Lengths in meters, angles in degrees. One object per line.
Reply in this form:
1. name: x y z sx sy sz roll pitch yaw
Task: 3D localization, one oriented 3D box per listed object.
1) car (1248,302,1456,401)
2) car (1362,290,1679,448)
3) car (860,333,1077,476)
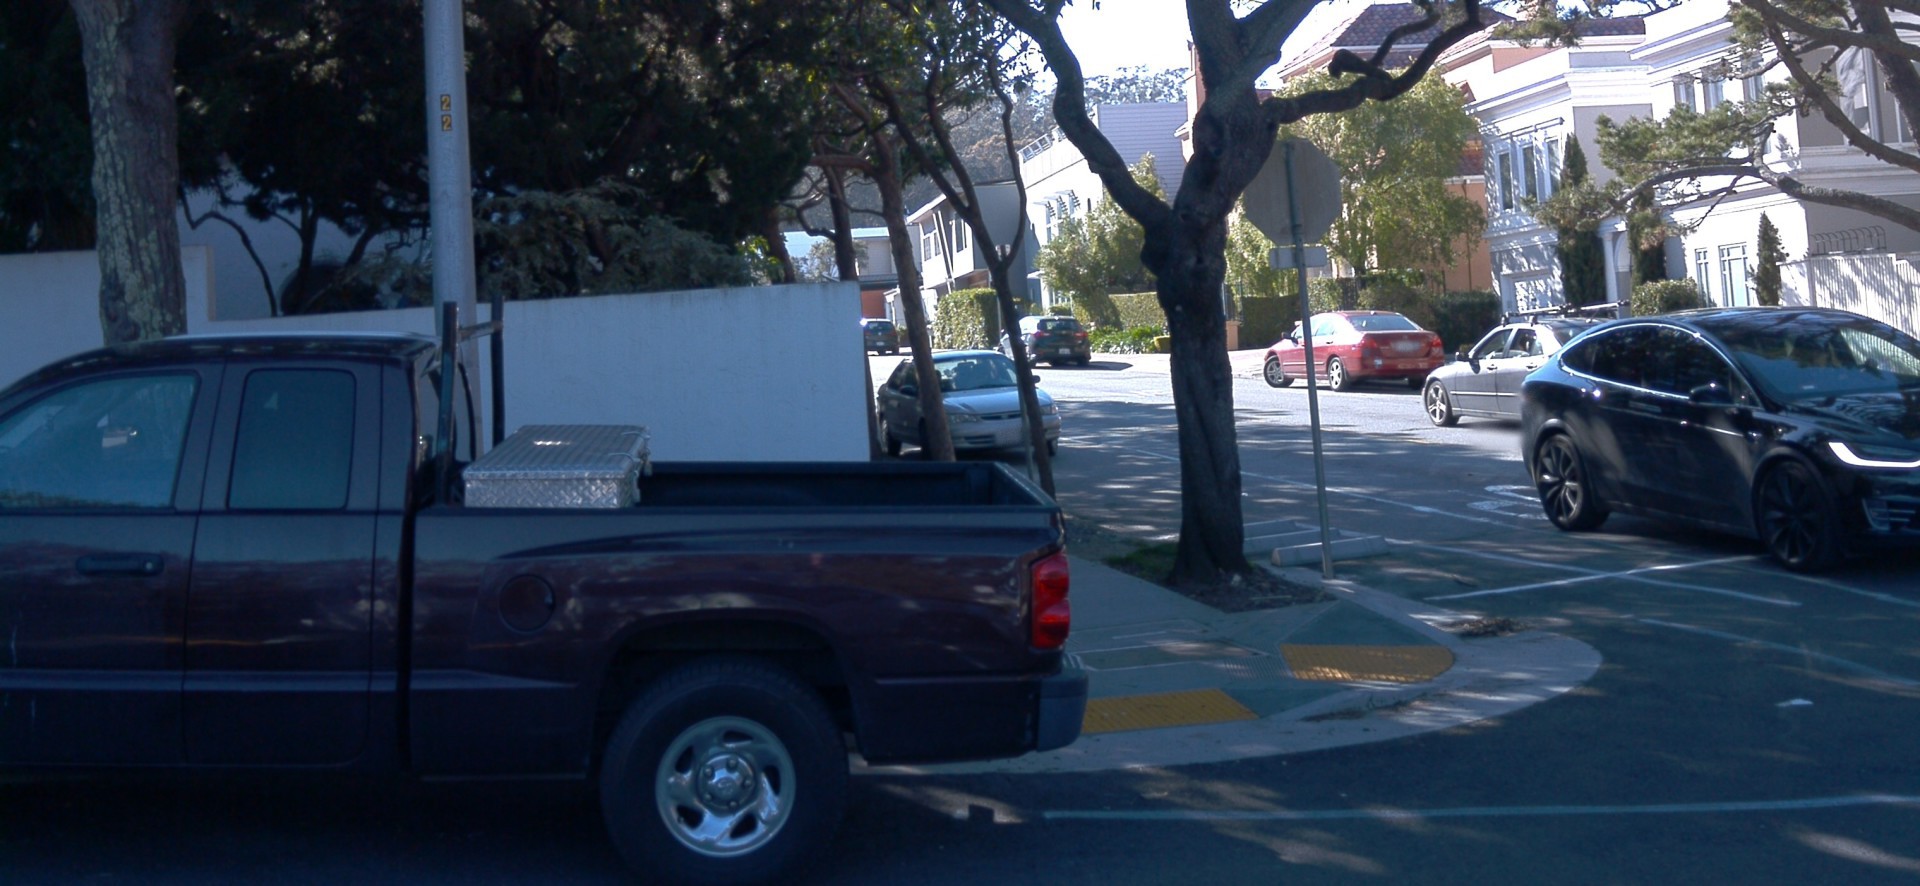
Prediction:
1. car: 7.172 -1.757 38.441 1.987 1.502 4.456 0 6 -17
2. car: 7.098 -1.041 26.826 2.057 1.661 4.485 0 6 -14
3. car: 0.024 -0.570 26.791 1.870 1.433 4.059 0 6 -14
